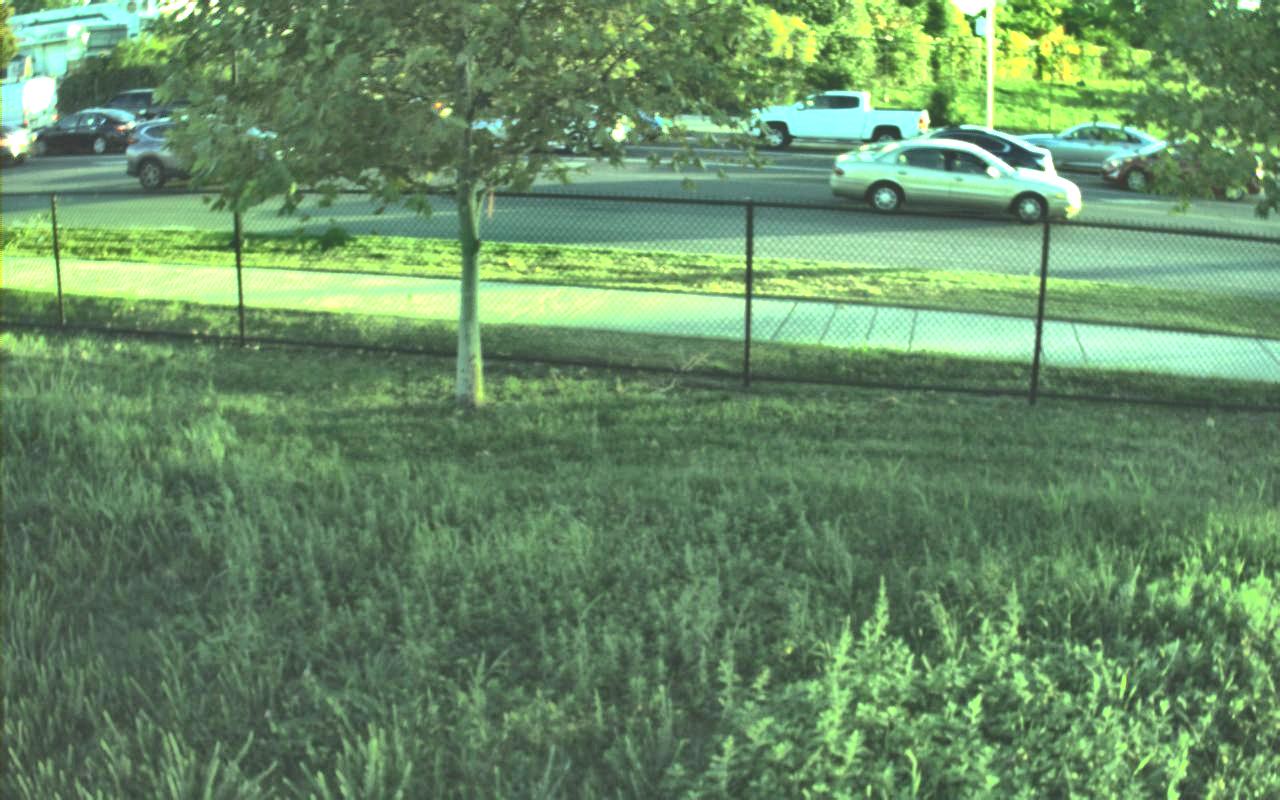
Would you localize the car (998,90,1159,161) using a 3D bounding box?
[{"bbox_3d":[12.436,-7.735,33.403,4.594,1.624,1.986,6,17,24],"label":"car"}]

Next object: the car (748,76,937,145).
[{"bbox_3d":[5.965,-8.457,35.811,5.364,1.790,2.171,3,16,13],"label":"car"}]

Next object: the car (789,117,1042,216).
[{"bbox_3d":[5.478,-4.660,24.315,4.882,1.626,2.041,3,16,13],"label":"car"}]
